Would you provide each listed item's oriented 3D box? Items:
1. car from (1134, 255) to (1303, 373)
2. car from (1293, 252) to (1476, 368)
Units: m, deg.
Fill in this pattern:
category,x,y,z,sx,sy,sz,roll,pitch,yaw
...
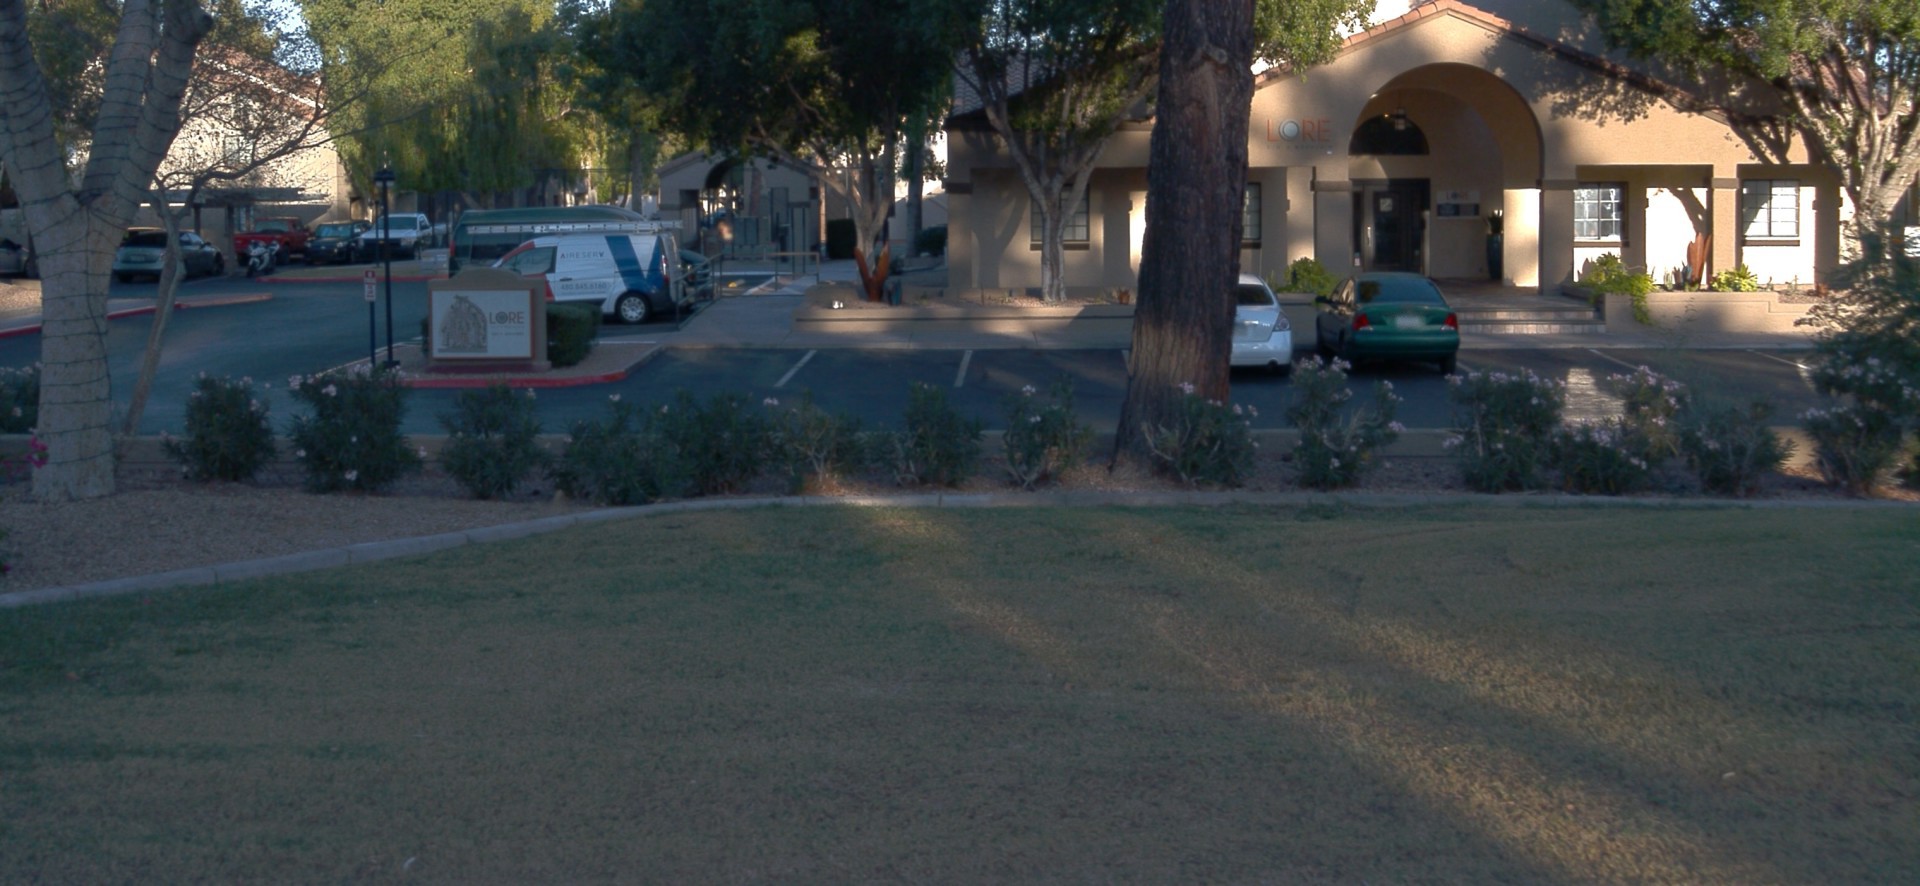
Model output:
category,x,y,z,sx,sy,sz,roll,pitch,yaw
car,3.887,-2.044,31.851,2.099,1.624,4.627,0,5,1
car,6.503,-2.138,32.246,1.975,1.624,4.674,0,5,1
